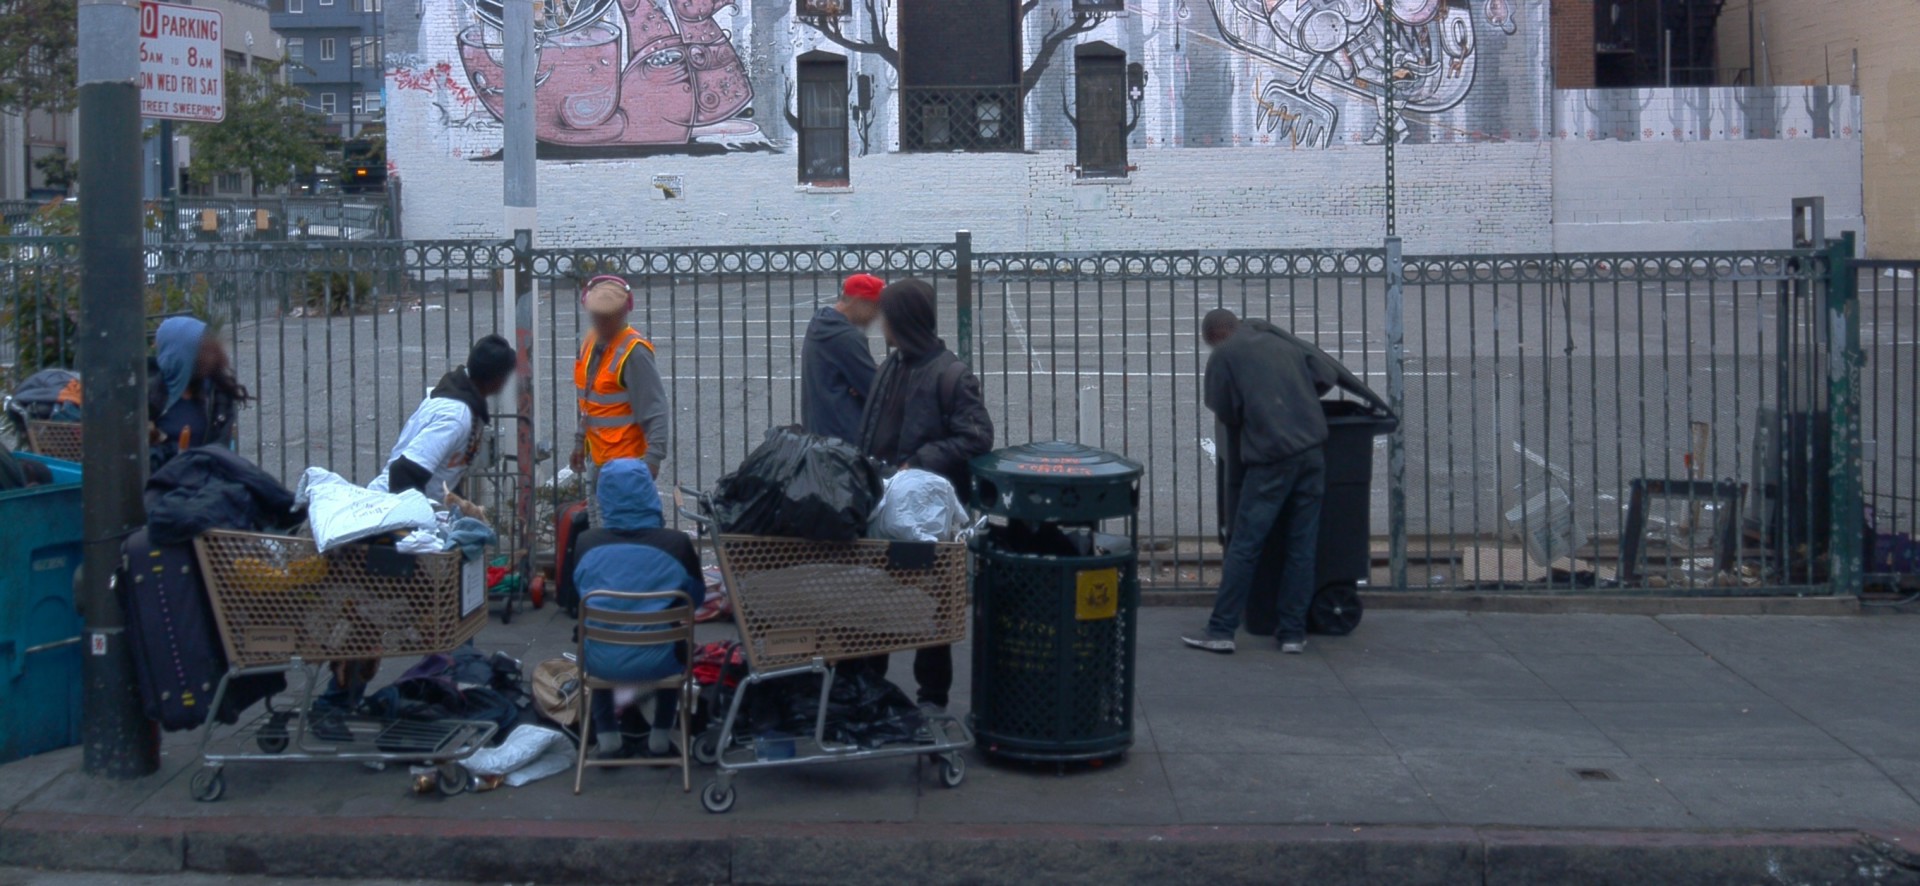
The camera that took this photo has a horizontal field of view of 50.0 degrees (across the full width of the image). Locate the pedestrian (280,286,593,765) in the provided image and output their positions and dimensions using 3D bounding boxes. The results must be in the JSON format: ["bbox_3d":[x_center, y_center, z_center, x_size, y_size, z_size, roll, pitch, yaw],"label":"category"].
[{"bbox_3d":[-2.098,0.267,8.292,0.888,1.767,0.831,1,2,28],"label":"pedestrian"}]

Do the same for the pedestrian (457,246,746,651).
[{"bbox_3d":[-1.735,-0.037,9.987,1.111,1.827,0.829,2,2,32],"label":"pedestrian"}]

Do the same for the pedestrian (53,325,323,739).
[{"bbox_3d":[-3.320,0.340,8.938,1.017,1.657,0.735,-1,2,-15],"label":"pedestrian"}]

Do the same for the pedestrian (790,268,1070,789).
[{"bbox_3d":[-0.108,0.274,8.123,0.853,1.907,0.747,1,2,26],"label":"pedestrian"}]

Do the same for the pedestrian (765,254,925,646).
[{"bbox_3d":[-0.577,-0.007,10.094,0.721,1.827,0.788,0,2,-8],"label":"pedestrian"}]

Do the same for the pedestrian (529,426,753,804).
[{"bbox_3d":[-1.174,0.609,7.690,0.708,1.278,0.715,0,2,1],"label":"pedestrian"}]

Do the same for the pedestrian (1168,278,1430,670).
[{"bbox_3d":[1.603,0.109,9.899,1.086,1.777,0.844,0,2,-3],"label":"pedestrian"}]
